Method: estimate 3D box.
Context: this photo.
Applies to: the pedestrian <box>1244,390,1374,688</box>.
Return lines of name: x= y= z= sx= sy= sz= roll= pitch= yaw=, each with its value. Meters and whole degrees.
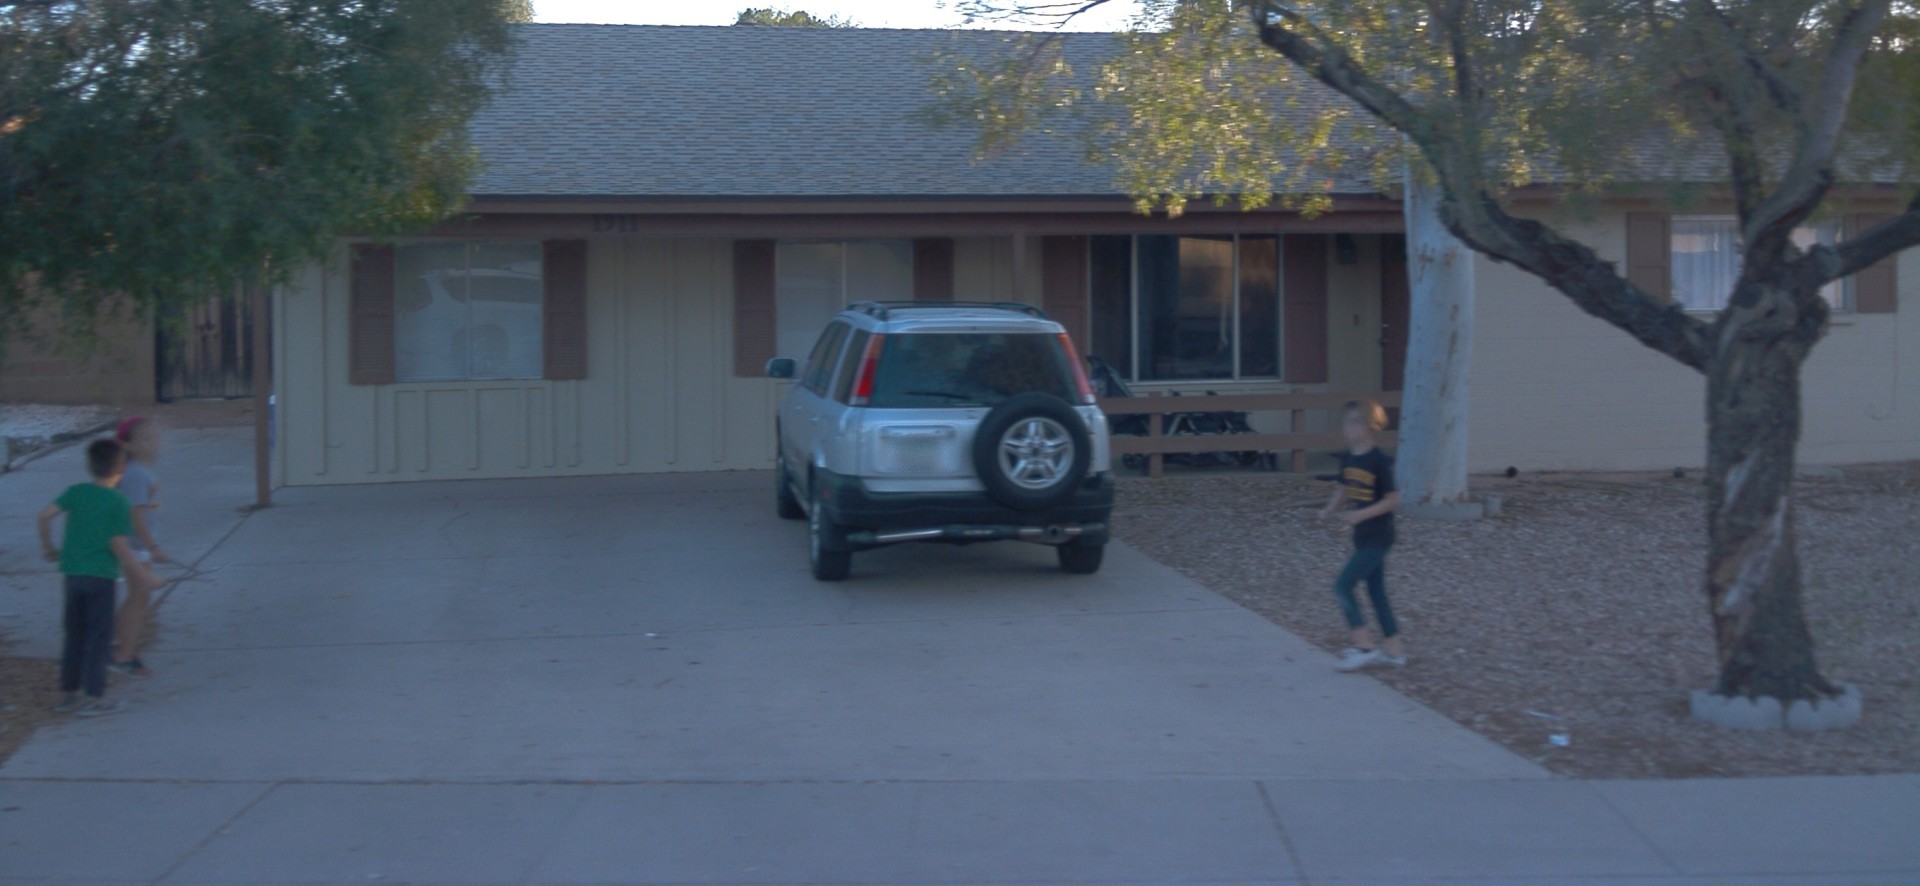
pedestrian: x=1.725 y=0.457 z=10.307 sx=0.583 sy=1.398 sz=0.535 roll=0 pitch=2 yaw=3

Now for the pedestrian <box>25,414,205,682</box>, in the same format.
pedestrian: x=-4.139 y=0.498 z=10.186 sx=0.626 sy=1.228 sz=0.545 roll=0 pitch=2 yaw=4

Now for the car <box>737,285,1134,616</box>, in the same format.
car: x=-0.355 y=-0.136 z=14.034 sx=2.068 sy=1.702 sz=4.421 roll=-1 pitch=6 yaw=-9
